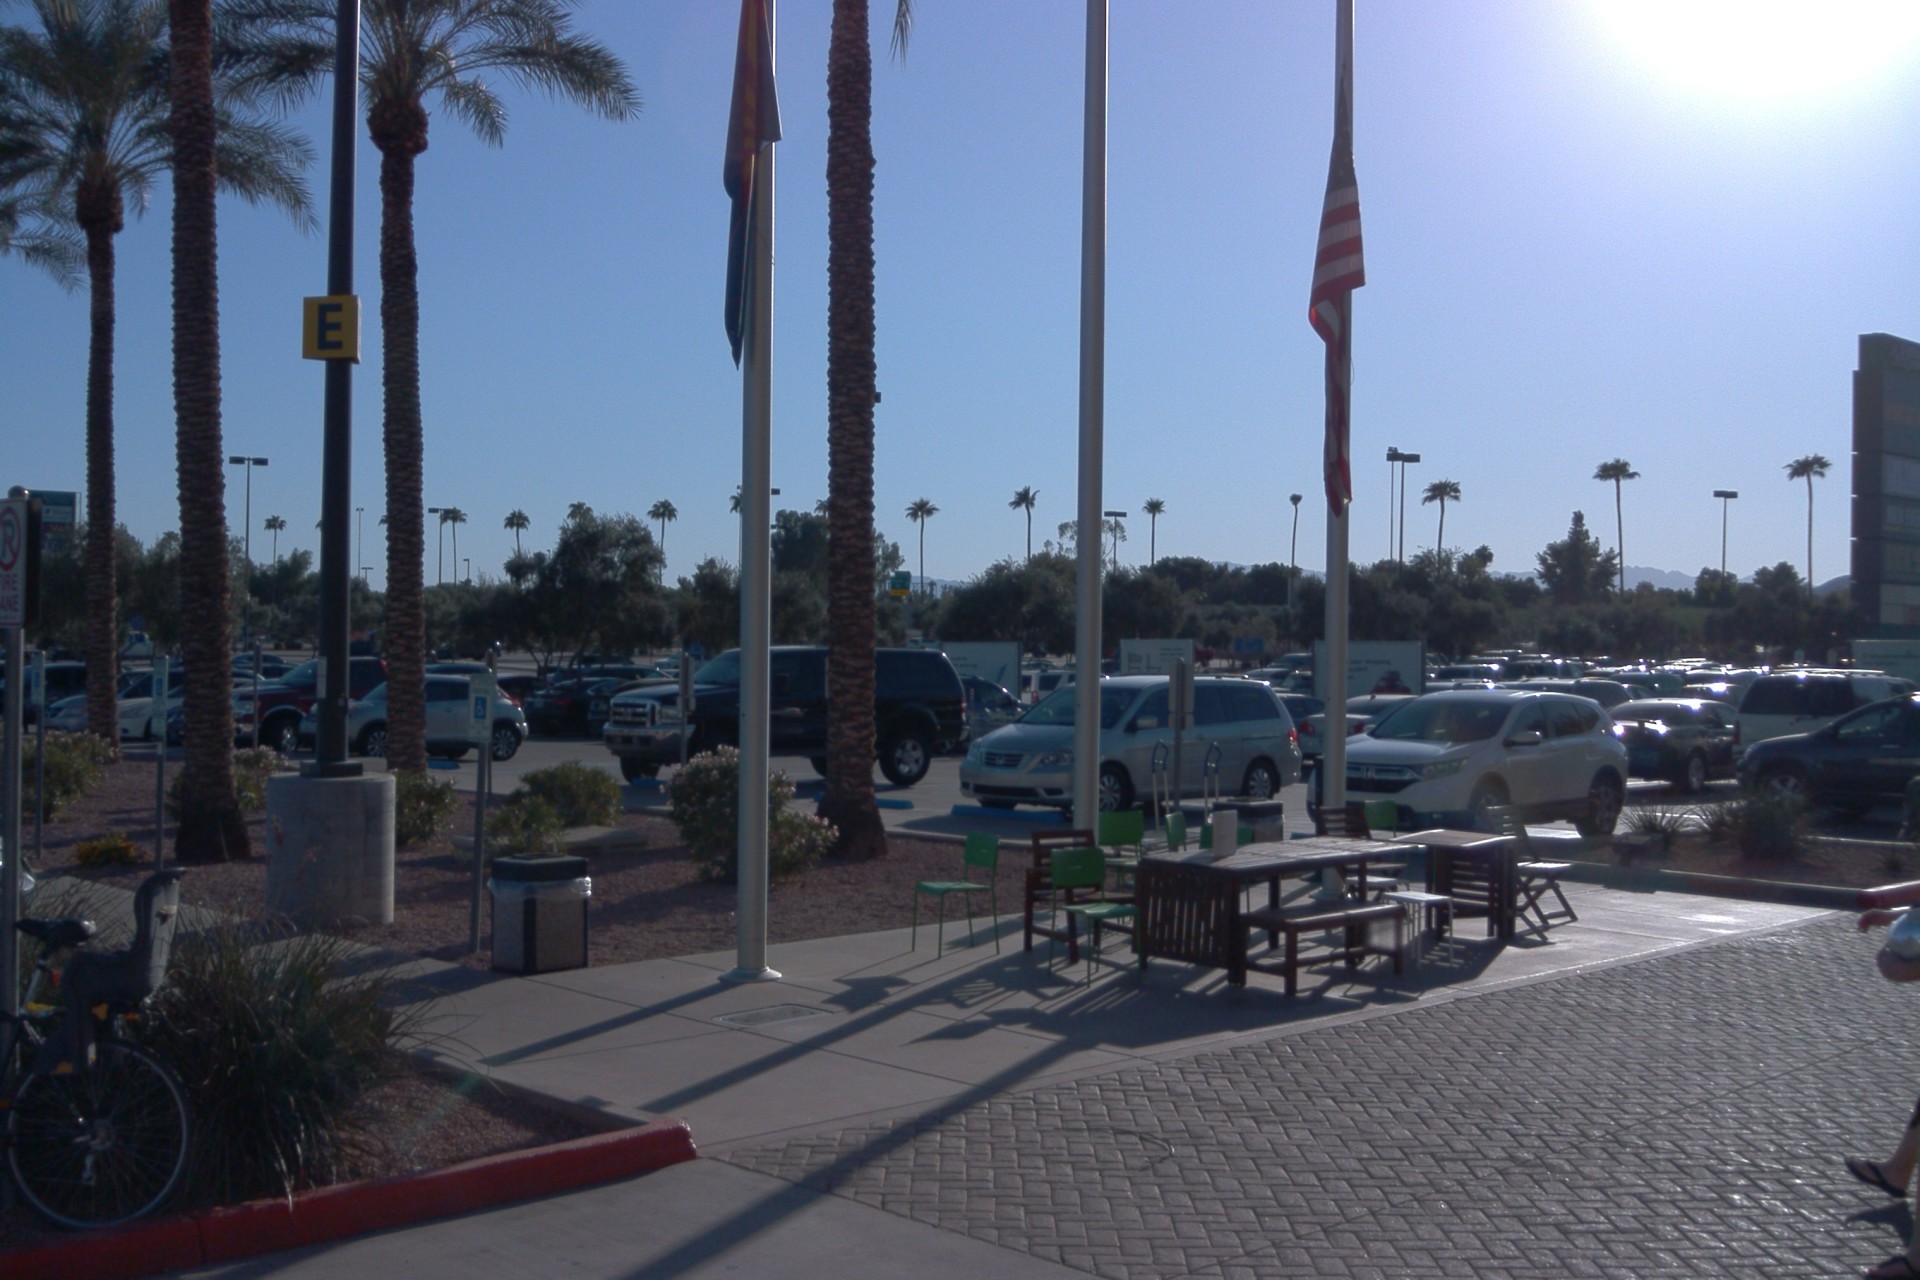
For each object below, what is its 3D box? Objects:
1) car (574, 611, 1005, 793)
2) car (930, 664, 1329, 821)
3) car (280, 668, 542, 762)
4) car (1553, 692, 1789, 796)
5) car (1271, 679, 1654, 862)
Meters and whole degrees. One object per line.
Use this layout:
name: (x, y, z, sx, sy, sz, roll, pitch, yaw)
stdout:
car: (-2.471, 0.864, 31.323, 6.160, 2.490, 2.672, 1, 0, -43)
car: (2.282, 1.218, 26.489, 2.246, 1.780, 5.286, 0, 0, 44)
car: (-9.800, 1.302, 37.066, 1.967, 1.550, 4.106, 0, 0, 44)
car: (11.616, 1.631, 33.581, 4.346, 1.490, 1.909, 1, 0, -45)
car: (5.566, 1.317, 22.504, 2.159, 1.710, 4.564, 0, 0, 41)
